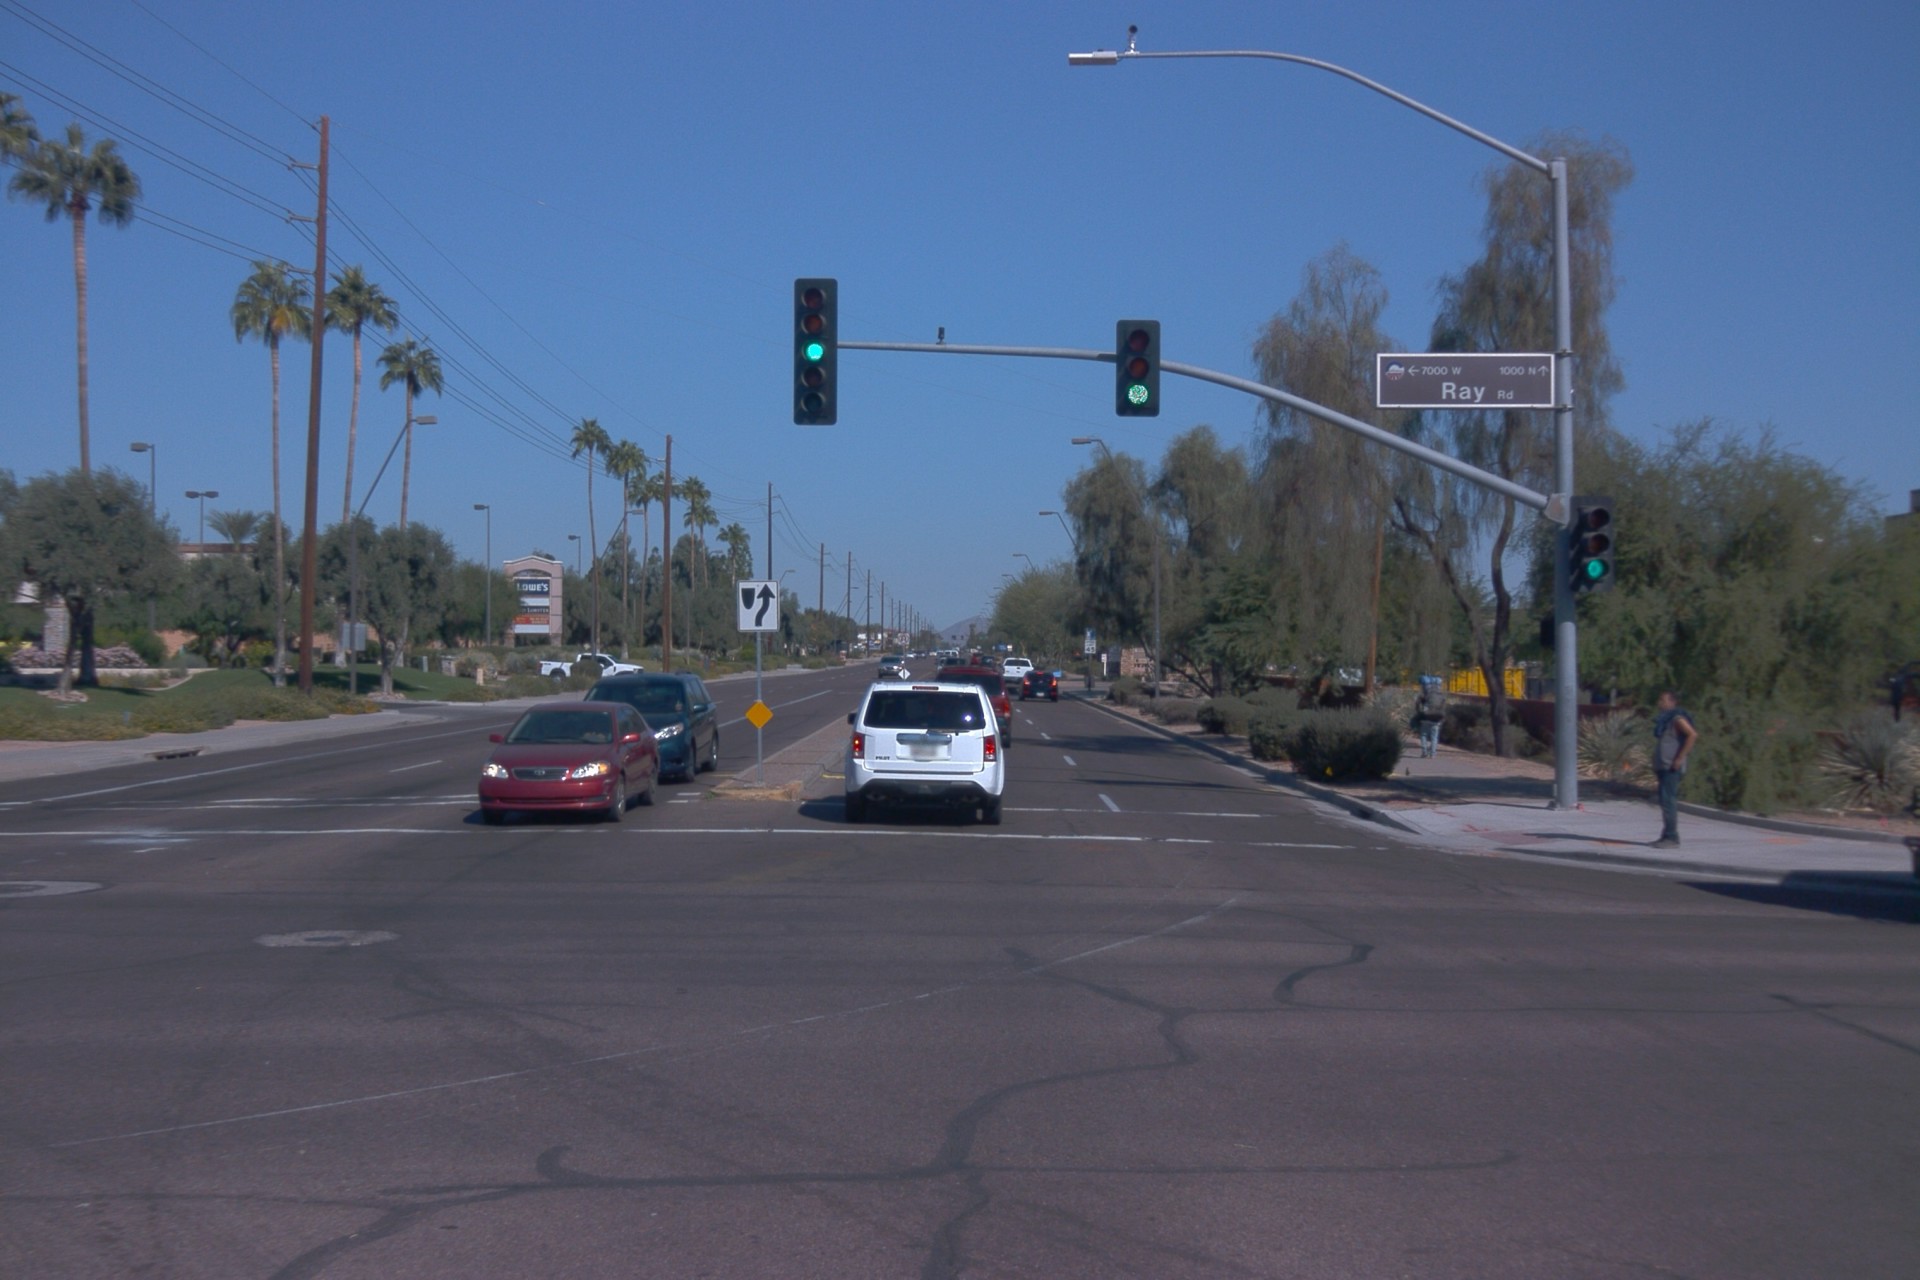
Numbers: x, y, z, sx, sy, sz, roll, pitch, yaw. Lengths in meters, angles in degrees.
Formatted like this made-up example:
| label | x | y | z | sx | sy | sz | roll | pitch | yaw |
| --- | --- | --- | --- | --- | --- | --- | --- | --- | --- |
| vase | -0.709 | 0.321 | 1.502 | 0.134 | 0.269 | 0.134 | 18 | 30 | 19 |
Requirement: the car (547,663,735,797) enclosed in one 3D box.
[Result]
| label | x | y | z | sx | sy | sz | roll | pitch | yaw |
| --- | --- | --- | --- | --- | --- | --- | --- | --- | --- |
| car | -5.219 | 1.425 | 34.816 | 2.350 | 2.040 | 5.072 | 1 | 0 | 0 |

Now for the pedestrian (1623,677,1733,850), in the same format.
| label | x | y | z | sx | sy | sz | roll | pitch | yaw |
| --- | --- | --- | --- | --- | --- | --- | --- | --- | --- |
| pedestrian | 8.407 | 1.427 | 24.401 | 1.030 | 1.960 | 0.948 | 1 | 0 | 8 |

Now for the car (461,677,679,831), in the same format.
| label | x | y | z | sx | sy | sz | roll | pitch | yaw |
| --- | --- | --- | --- | --- | --- | --- | --- | --- | --- |
| car | -5.004 | 1.413 | 27.321 | 1.926 | 1.810 | 4.450 | 1 | 0 | 1 |

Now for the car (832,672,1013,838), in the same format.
| label | x | y | z | sx | sy | sz | roll | pitch | yaw |
| --- | --- | --- | --- | --- | --- | --- | --- | --- | --- |
| car | -0.448 | 1.424 | 27.510 | 2.164 | 1.960 | 4.678 | 1 | 0 | 0 |
